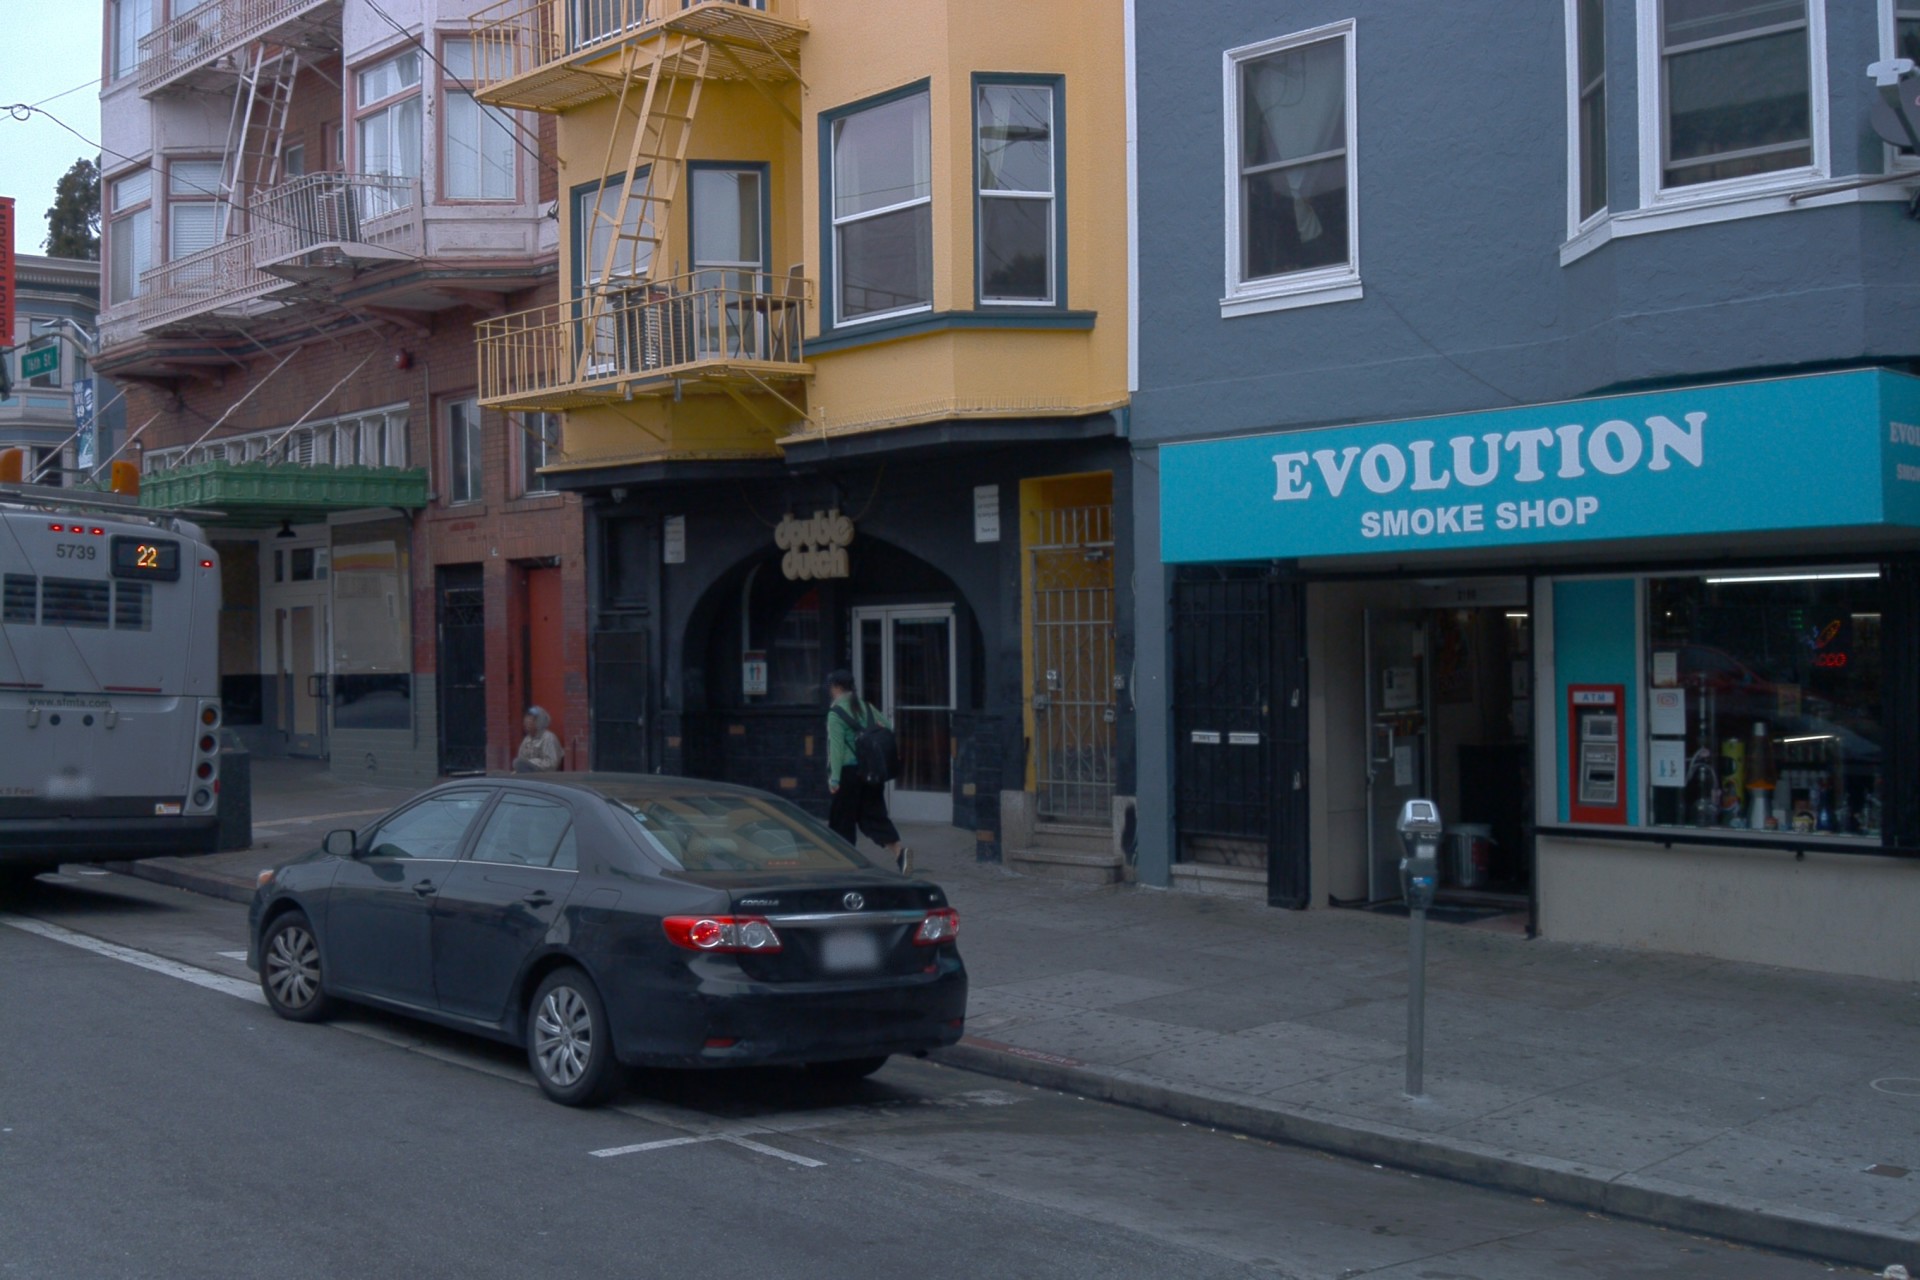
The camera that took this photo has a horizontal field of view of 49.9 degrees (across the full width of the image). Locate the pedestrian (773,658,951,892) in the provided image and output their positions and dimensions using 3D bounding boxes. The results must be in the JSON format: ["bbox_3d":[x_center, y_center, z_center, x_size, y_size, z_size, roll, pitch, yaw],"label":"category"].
[{"bbox_3d":[-0.776,1.032,16.354,1.078,1.750,0.910,0,1,40],"label":"pedestrian"}]

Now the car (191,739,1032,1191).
[{"bbox_3d":[-1.993,1.426,10.693,2.022,1.565,4.599,-1,1,-44],"label":"car"}]

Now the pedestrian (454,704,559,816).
[{"bbox_3d":[-4.754,1.246,21.652,0.811,1.100,0.736,1,1,44],"label":"pedestrian"}]
